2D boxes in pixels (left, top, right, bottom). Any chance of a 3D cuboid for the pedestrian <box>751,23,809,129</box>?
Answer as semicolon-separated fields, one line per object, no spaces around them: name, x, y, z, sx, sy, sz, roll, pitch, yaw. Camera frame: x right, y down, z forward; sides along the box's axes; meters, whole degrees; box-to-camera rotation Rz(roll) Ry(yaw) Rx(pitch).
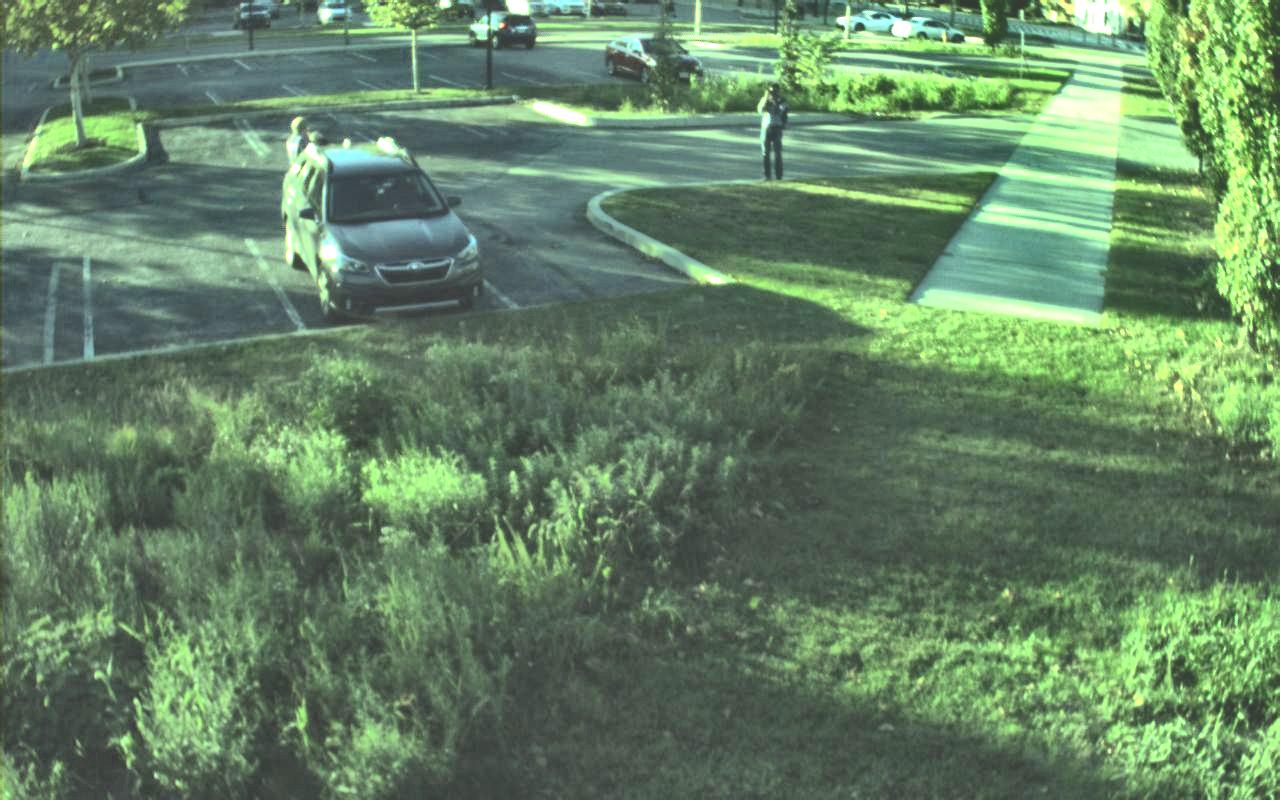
pedestrian;2.453;-5.661;21.516;0.838;1.835;0.794;4;15;18

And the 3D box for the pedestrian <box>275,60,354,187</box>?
pedestrian;-4.845;-4.096;17.899;0.916;1.801;0.852;-11;17;-33

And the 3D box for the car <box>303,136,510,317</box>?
car;-3.061;-2.298;15.256;1.941;1.580;4.481;-6;16;-18
